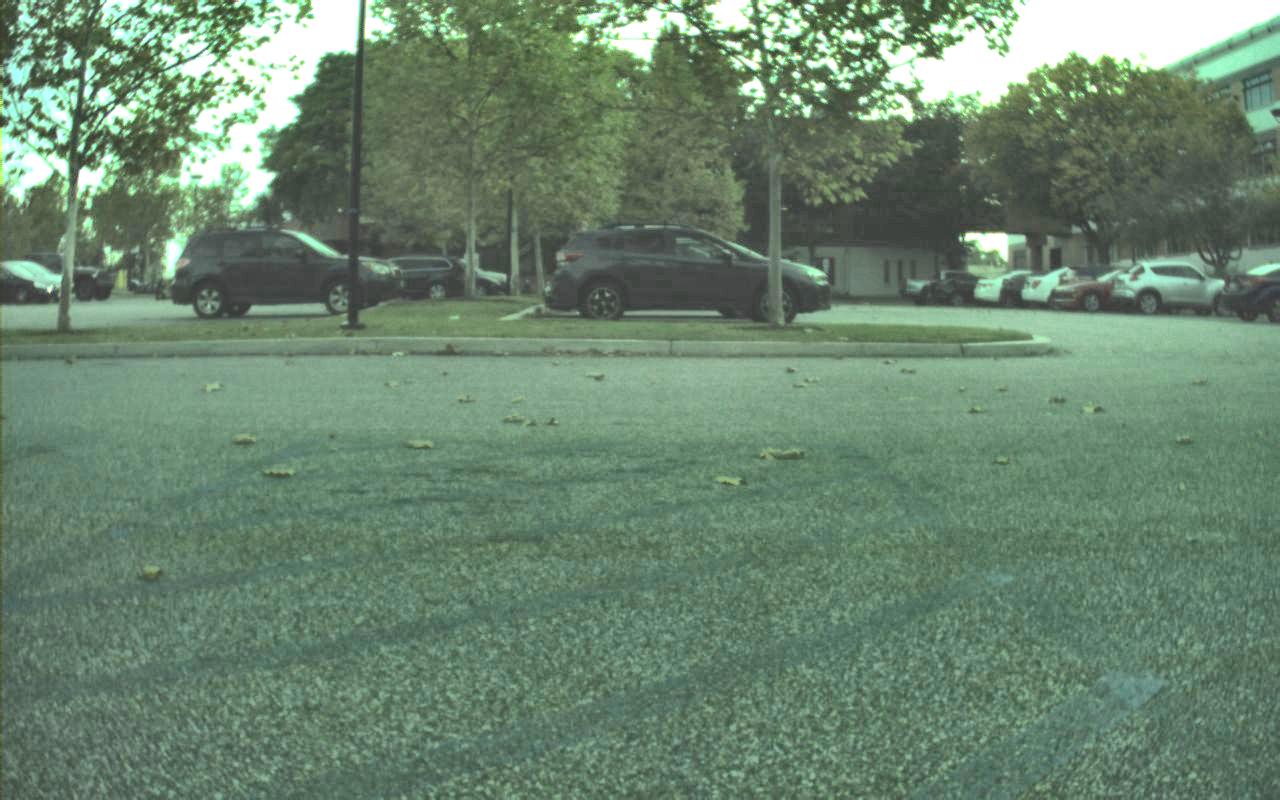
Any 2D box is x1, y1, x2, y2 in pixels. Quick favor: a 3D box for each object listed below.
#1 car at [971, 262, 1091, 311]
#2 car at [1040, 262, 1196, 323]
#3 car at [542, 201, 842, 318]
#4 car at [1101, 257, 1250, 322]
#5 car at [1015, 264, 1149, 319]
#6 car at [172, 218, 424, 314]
[{"bbox_3d":[14.937,-4.285,46.554,4.589,1.733,2.027,1,1,12],"label":"car"},{"bbox_3d":[14.626,-3.187,36.329,4.620,1.637,1.978,0,1,-1],"label":"car"},{"bbox_3d":[0.772,-2.203,20.187,4.610,1.664,1.972,0,1,-3],"label":"car"},{"bbox_3d":[15.390,-3.069,33.562,4.154,1.647,1.875,0,1,1],"label":"car"},{"bbox_3d":[15.299,-3.683,41.598,4.457,1.687,1.955,1,1,3],"label":"car"},{"bbox_3d":[-6.466,-2.468,23.050,4.542,1.631,1.965,0,1,-1],"label":"car"}]
